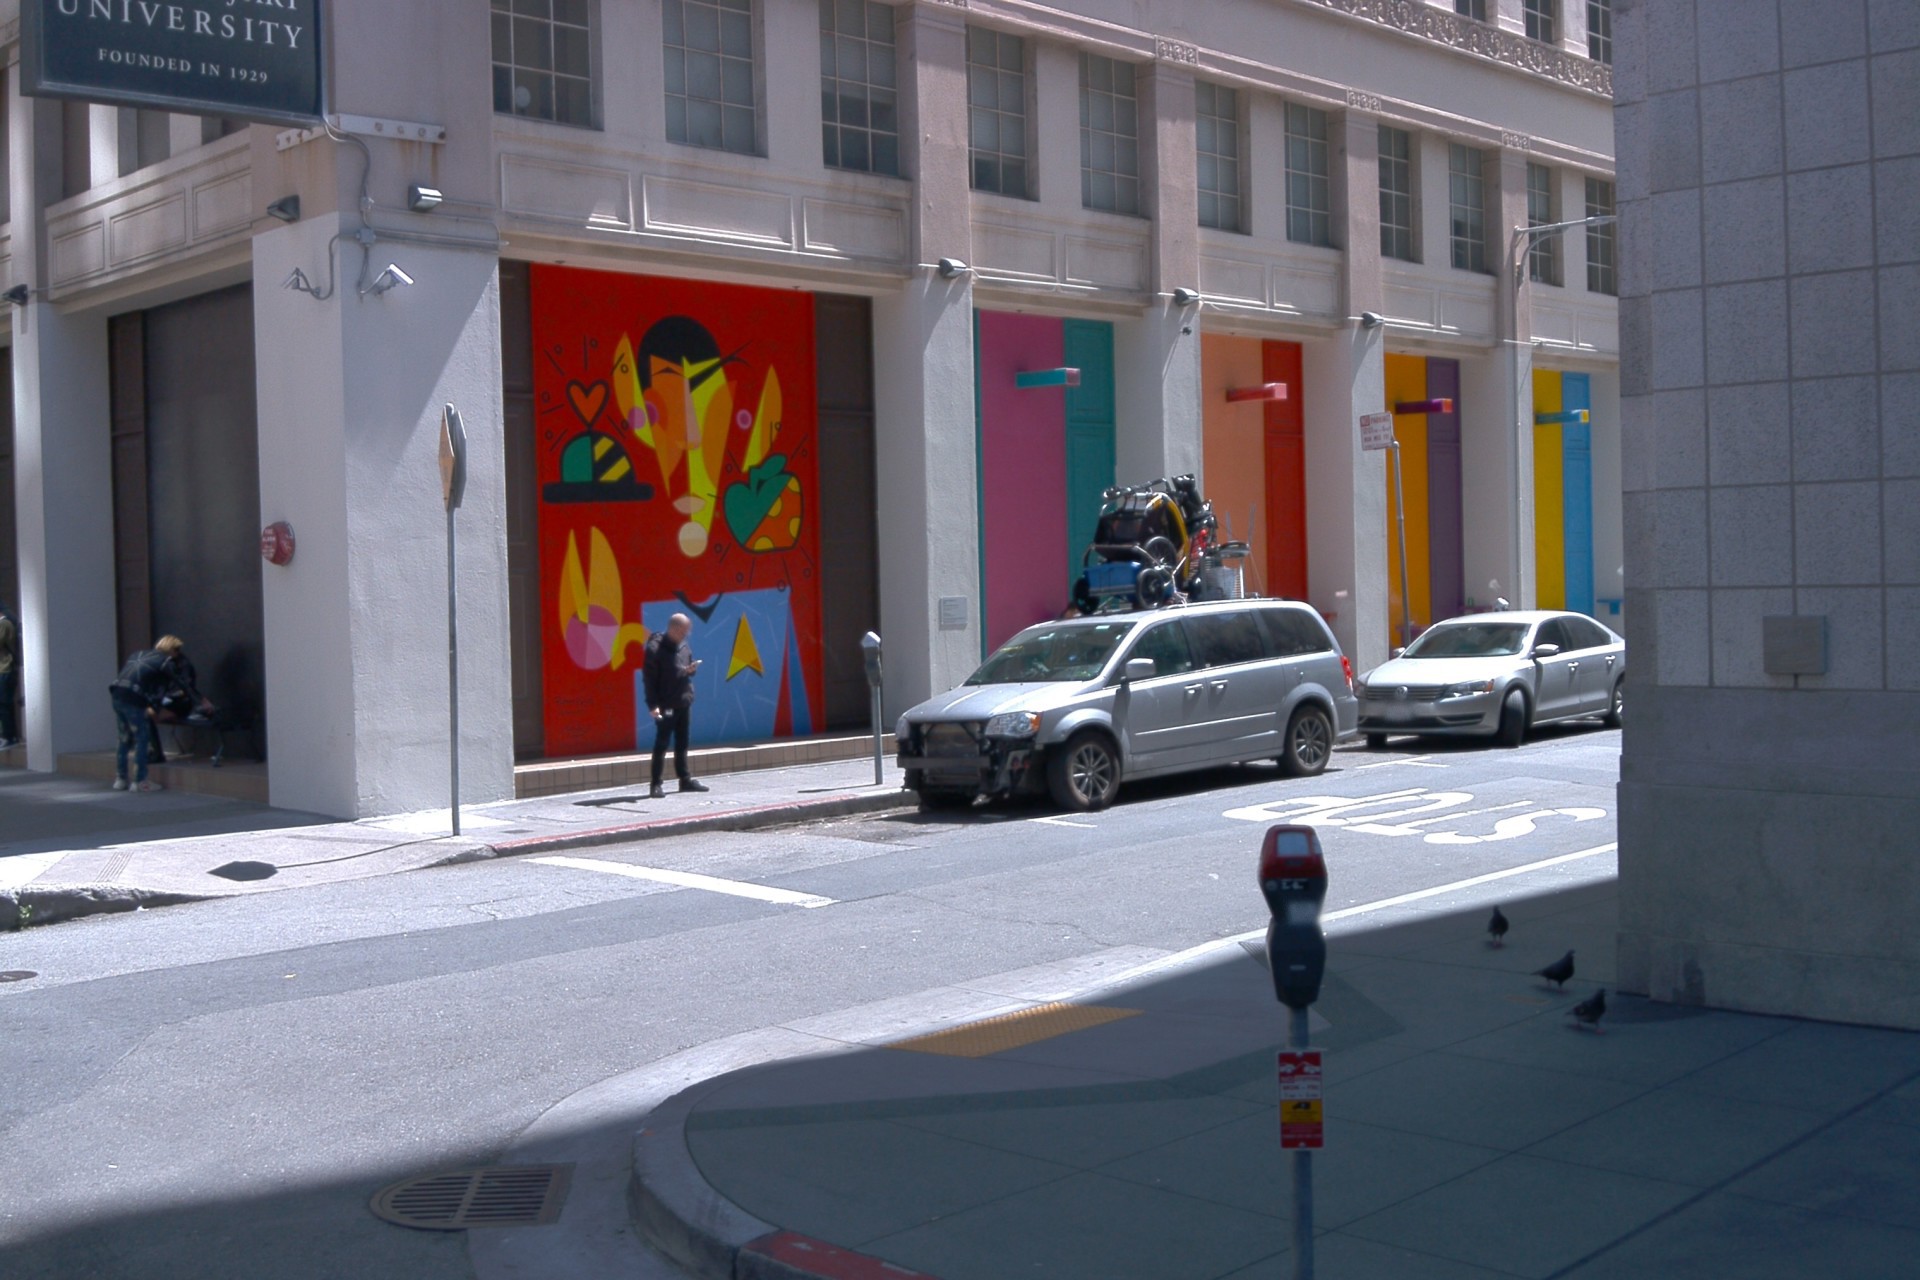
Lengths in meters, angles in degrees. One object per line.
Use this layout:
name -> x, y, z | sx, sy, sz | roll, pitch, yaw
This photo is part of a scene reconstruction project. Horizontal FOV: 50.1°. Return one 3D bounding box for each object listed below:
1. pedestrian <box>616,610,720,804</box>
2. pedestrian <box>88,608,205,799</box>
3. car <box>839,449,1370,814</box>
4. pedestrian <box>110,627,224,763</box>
pedestrian -> -2.681, 0.598, 18.887 | 0.751, 1.740, 0.573 | 0, 0, -44
pedestrian -> -8.045, 0.608, 20.339 | 0.674, 1.838, 0.853 | 0, 0, 41
car -> 1.492, -0.098, 19.371 | 2.318, 2.980, 4.990 | 0, 1, 44
pedestrian -> -8.008, 0.538, 20.769 | 0.747, 1.328, 0.832 | 0, 0, 44
